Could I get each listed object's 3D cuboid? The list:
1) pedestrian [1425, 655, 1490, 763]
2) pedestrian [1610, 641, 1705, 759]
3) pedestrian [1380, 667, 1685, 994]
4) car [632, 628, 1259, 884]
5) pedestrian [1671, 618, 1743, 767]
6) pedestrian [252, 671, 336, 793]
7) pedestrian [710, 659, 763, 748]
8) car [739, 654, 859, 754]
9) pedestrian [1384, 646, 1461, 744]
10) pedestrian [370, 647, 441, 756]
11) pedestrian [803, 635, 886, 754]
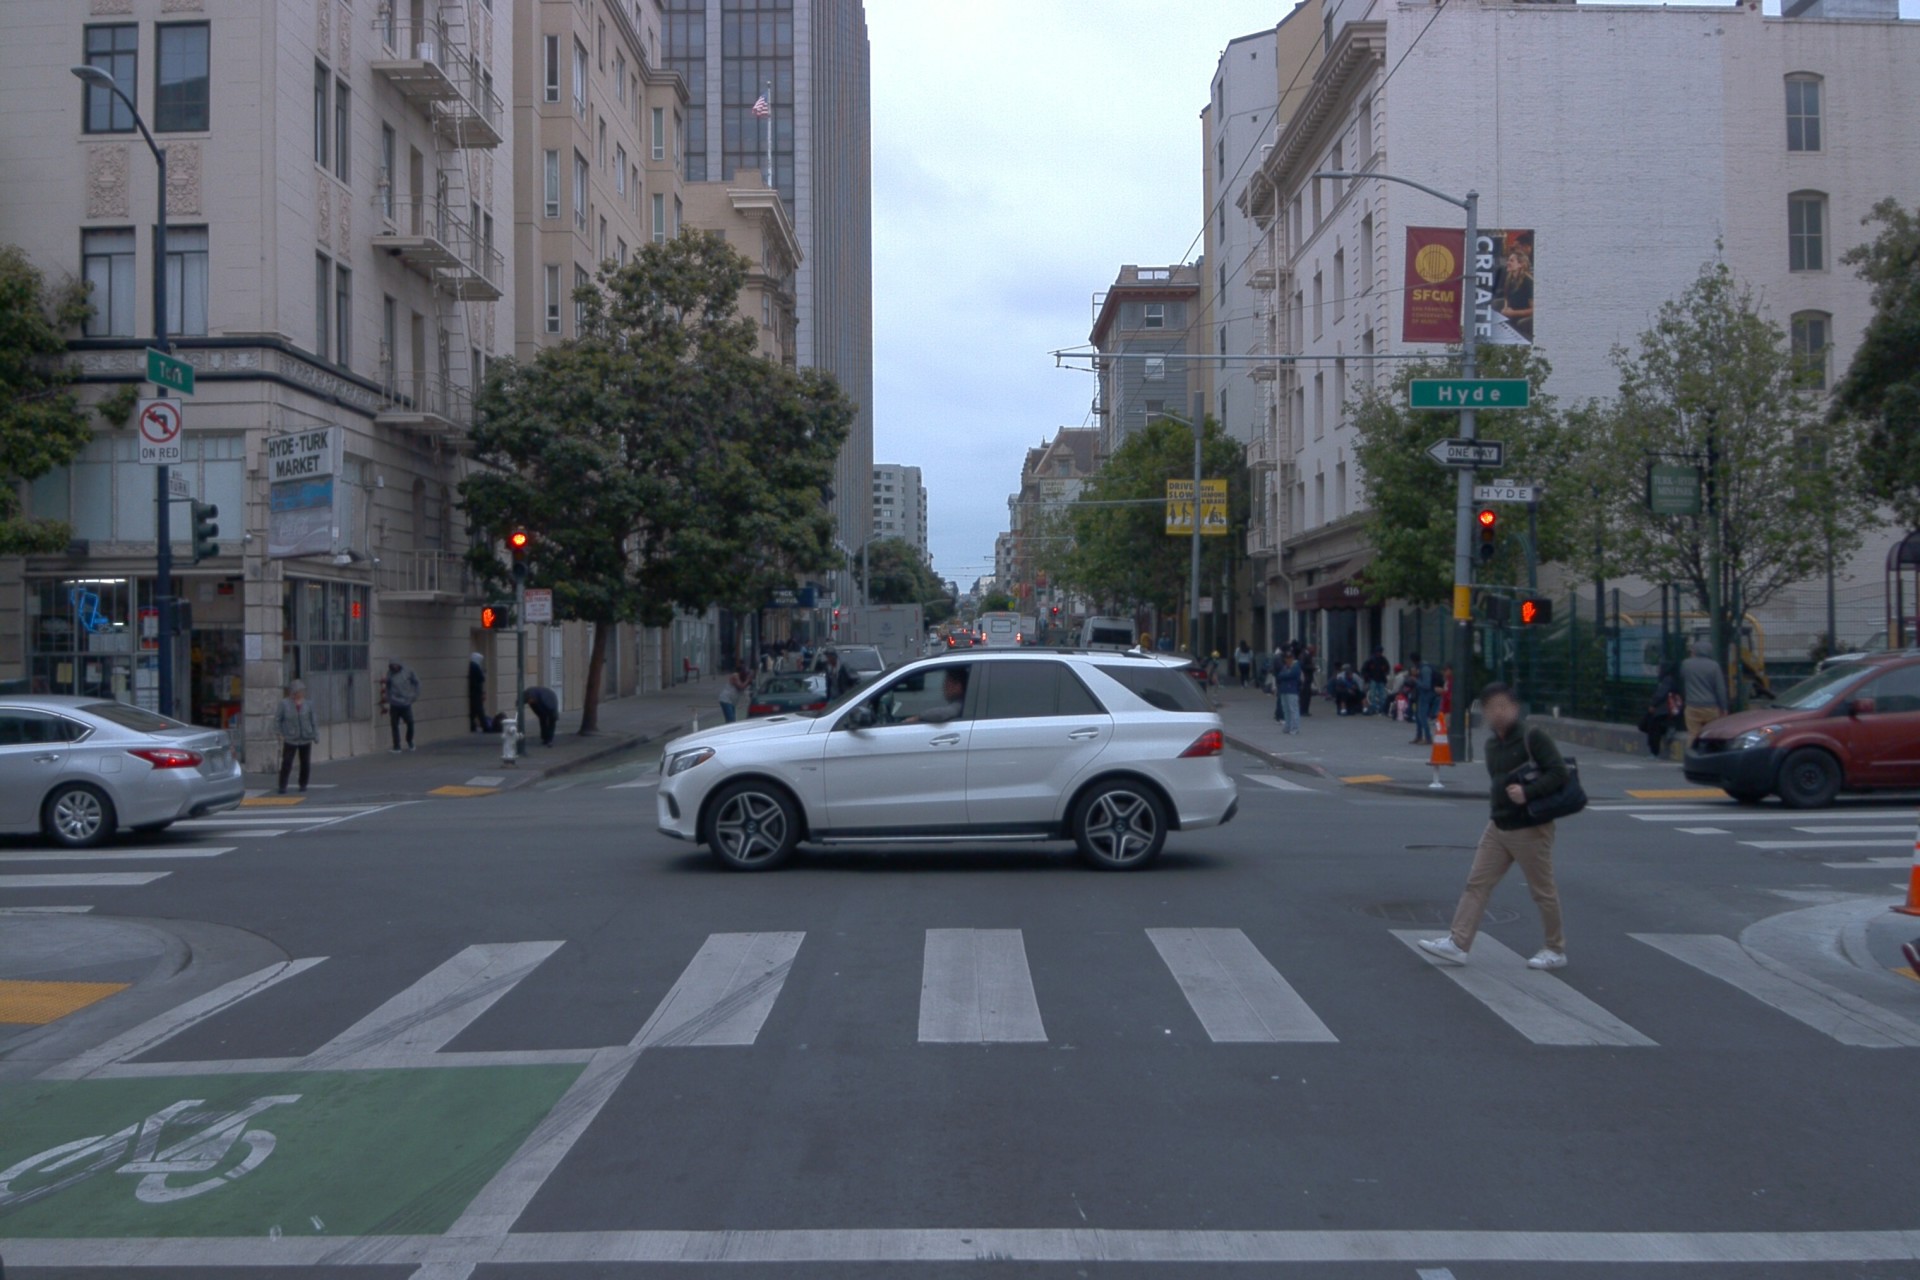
[{"bbox_3d":[7.700,1.059,31.837,0.906,1.620,0.868,0,1,9],"label":"pedestrian"},{"bbox_3d":[10.473,0.884,30.891,0.943,1.720,0.964,-1,1,-29],"label":"pedestrian"},{"bbox_3d":[3.236,1.039,11.737,1.316,1.720,1.109,0,1,-10],"label":"pedestrian"},{"bbox_3d":[-0.103,0.890,16.878,4.808,1.930,2.169,0,1,1],"label":"car"},{"bbox_3d":[10.286,0.700,28.320,0.835,2.010,0.795,0,1,28],"label":"pedestrian"},{"bbox_3d":[-9.247,1.260,28.557,0.865,1.620,0.827,-1,1,-38],"label":"pedestrian"},{"bbox_3d":[-4.077,1.146,37.508,0.695,1.580,0.680,-1,1,-37],"label":"pedestrian"},{"bbox_3d":[-2.863,1.117,37.328,1.721,1.630,3.892,0,1,2],"label":"car"},{"bbox_3d":[8.323,0.972,37.030,0.930,1.710,1.050,-1,1,-22],"label":"pedestrian"},{"bbox_3d":[-9.728,1.062,36.112,0.928,1.870,1.019,0,1,2],"label":"pedestrian"},{"bbox_3d":[-1.972,0.917,35.262,1.258,1.990,1.097,0,1,5],"label":"pedestrian"}]
